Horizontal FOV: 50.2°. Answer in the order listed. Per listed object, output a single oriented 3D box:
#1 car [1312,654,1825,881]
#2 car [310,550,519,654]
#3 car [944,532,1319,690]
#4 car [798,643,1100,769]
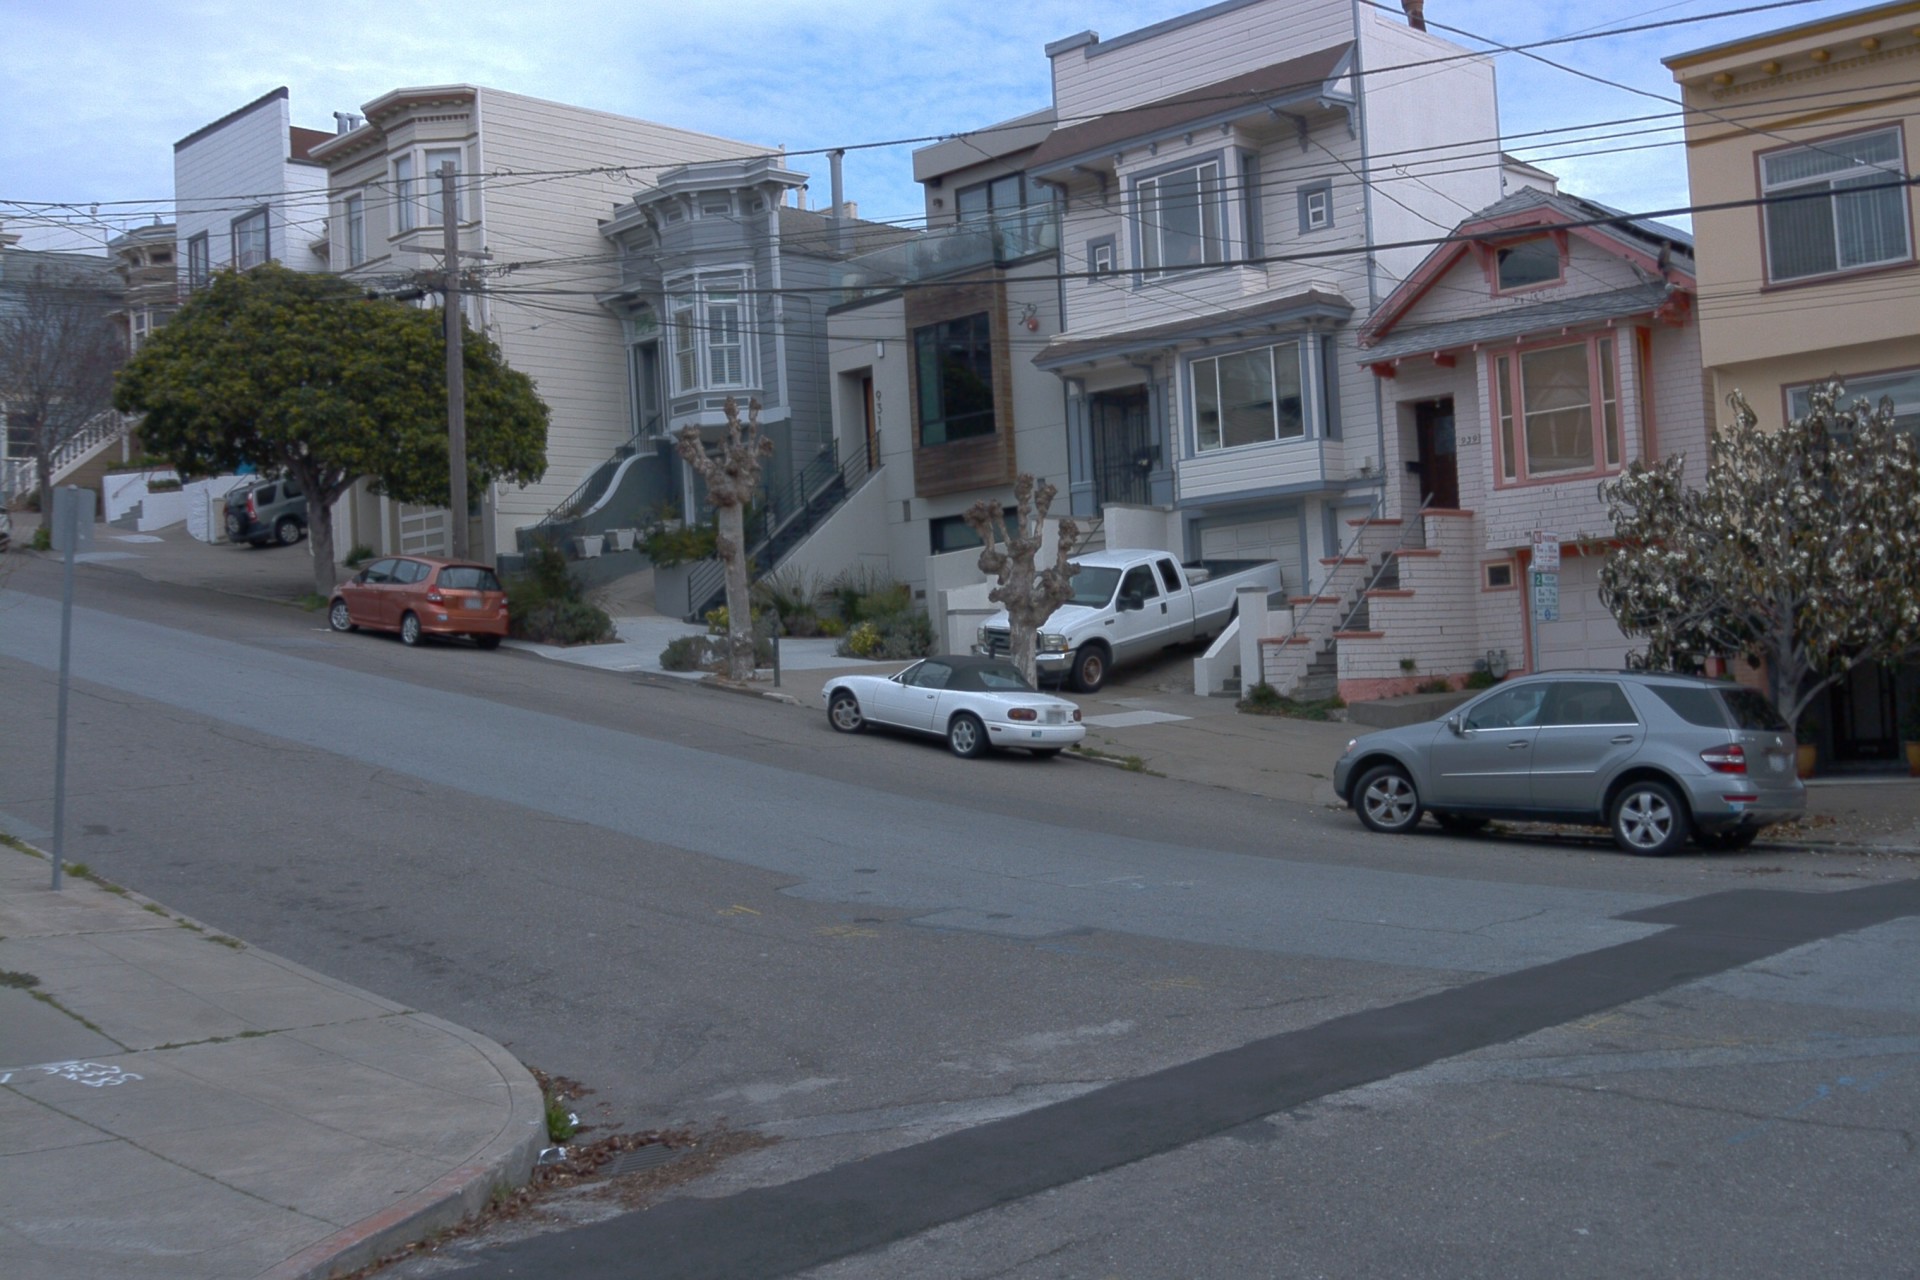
[{"bbox_3d":[6.026,1.160,20.670,4.549,1.930,1.958,1,1,45],"label":"car"},{"bbox_3d":[-9.547,-0.657,35.690,3.774,1.703,1.781,1,1,43],"label":"car"},{"bbox_3d":[2.965,-0.469,34.157,6.277,2.400,2.723,0,1,-43],"label":"car"},{"bbox_3d":[-0.194,0.801,26.702,3.800,1.460,1.723,1,1,44],"label":"car"}]
